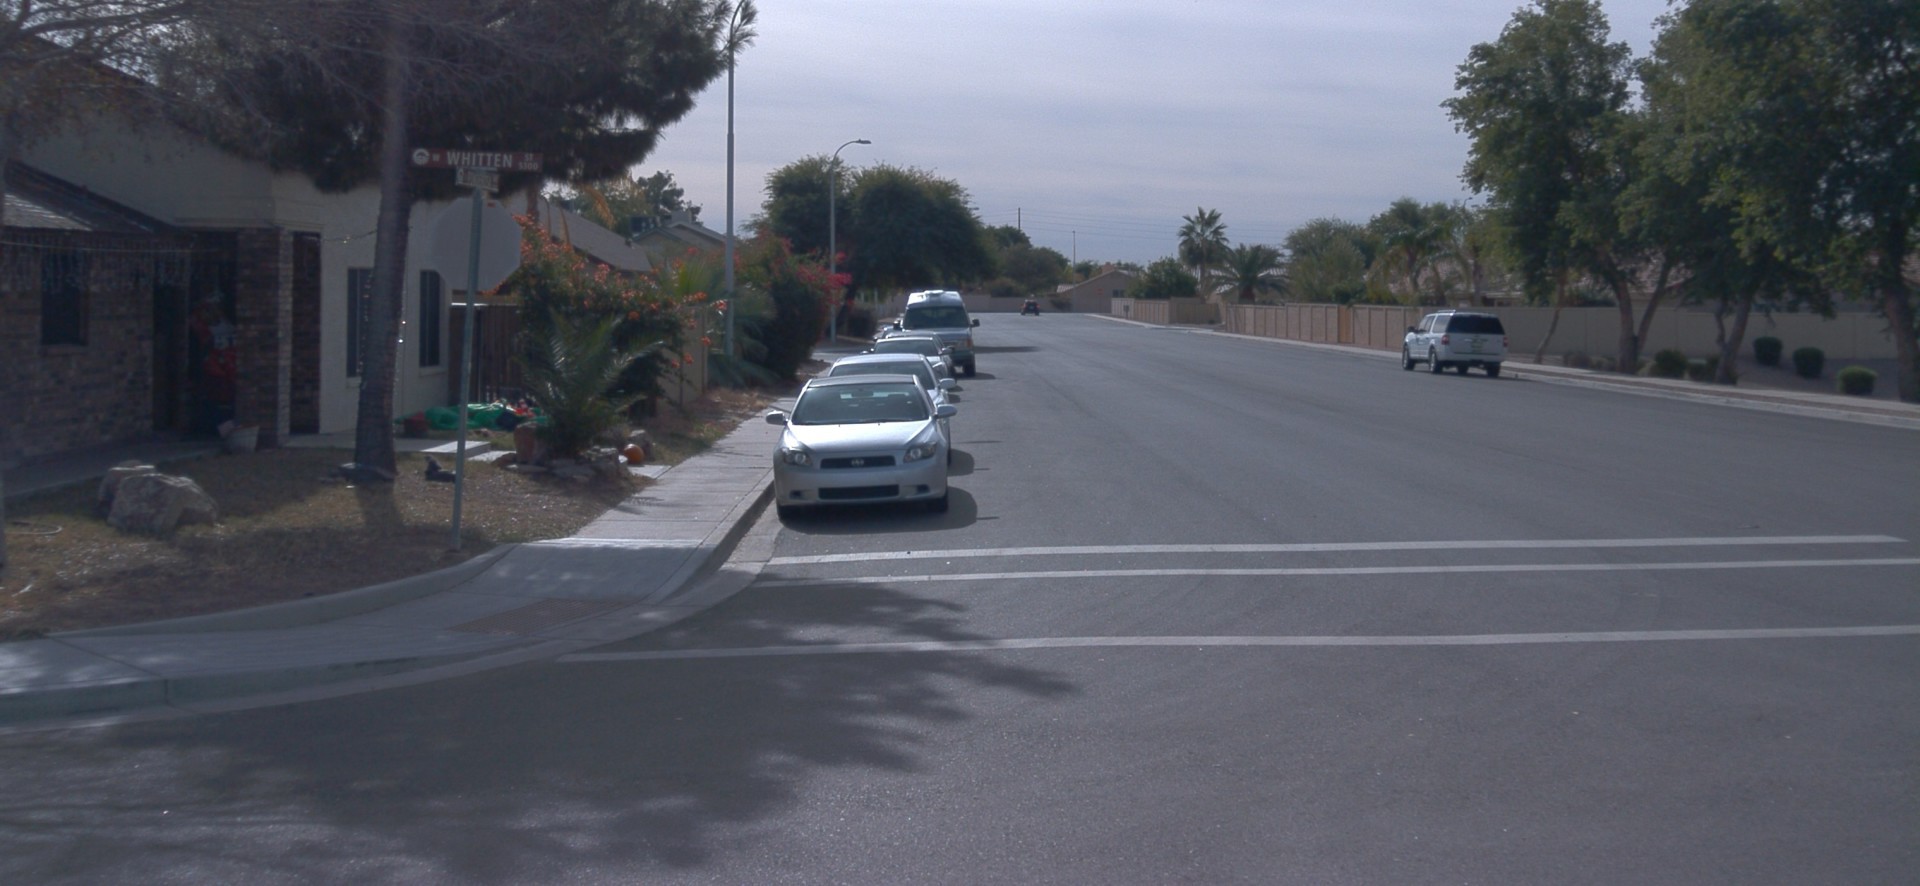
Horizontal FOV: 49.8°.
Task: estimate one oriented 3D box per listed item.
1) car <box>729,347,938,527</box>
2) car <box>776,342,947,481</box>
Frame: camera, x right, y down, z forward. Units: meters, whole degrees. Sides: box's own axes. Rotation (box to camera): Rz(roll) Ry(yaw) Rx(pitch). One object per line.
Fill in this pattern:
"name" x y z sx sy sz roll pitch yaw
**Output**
"car" -1.282 -0.161 22.794 2.053 1.544 4.481 0 5 -1
"car" -1.275 -0.520 28.789 2.116 1.524 4.730 0 5 0
